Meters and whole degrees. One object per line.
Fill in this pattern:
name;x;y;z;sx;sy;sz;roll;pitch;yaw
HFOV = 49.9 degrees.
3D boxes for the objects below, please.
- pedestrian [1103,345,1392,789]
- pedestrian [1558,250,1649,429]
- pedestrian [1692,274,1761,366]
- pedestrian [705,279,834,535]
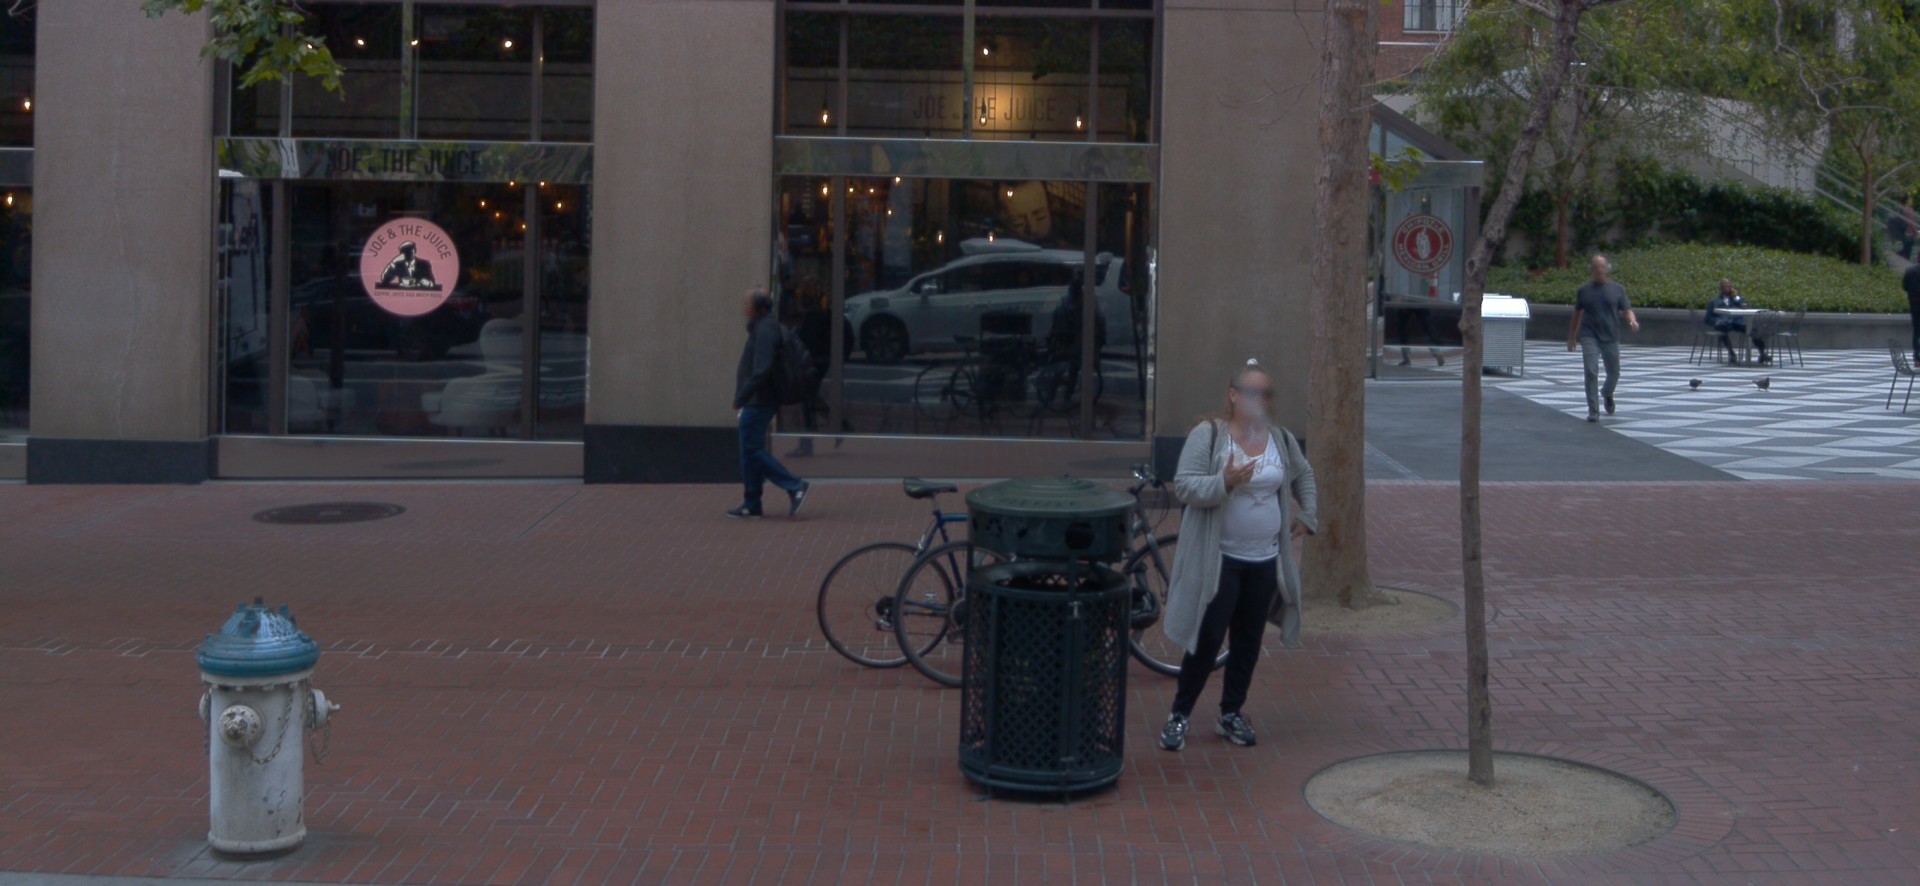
pedestrian;1.198;0.463;8.752;0.909;1.701;0.913;0;1;-18
pedestrian;6.653;-1.103;21.370;0.880;1.791;1.057;0;1;16
pedestrian;11.037;-1.781;29.727;0.813;1.301;0.624;0;1;7
pedestrian;-1.354;-0.284;14.764;0.894;1.761;0.753;0;1;-4
